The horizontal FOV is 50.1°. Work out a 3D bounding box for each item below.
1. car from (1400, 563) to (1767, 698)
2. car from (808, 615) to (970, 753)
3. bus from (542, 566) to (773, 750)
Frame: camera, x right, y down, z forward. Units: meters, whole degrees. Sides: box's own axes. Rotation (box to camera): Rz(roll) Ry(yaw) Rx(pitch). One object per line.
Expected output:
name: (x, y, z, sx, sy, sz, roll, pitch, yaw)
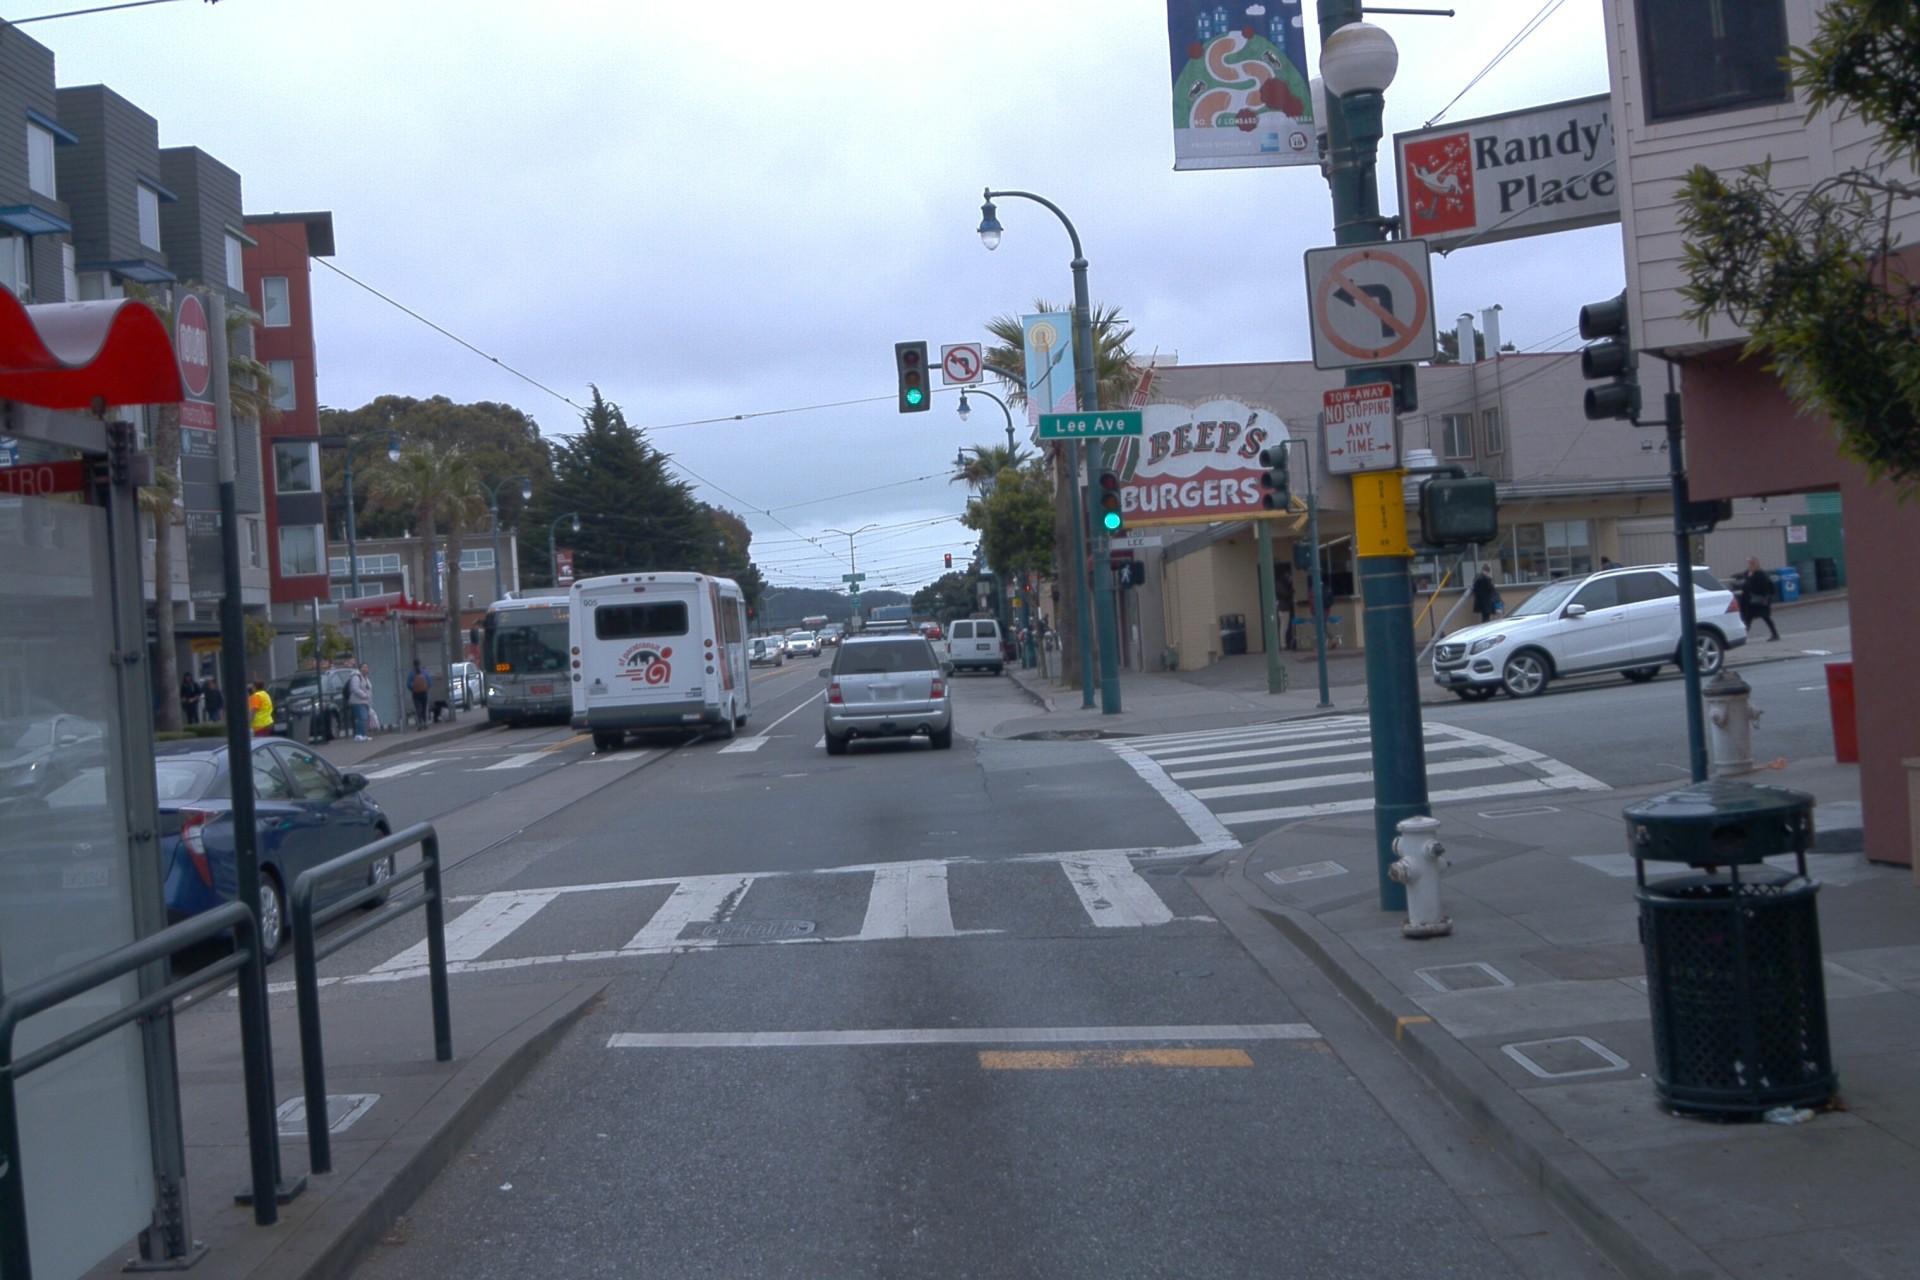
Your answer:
car: (9.498, -0.171, 31.467, 4.906, 1.960, 2.242, -1, 1, -14)
car: (-1.067, 0.600, 31.357, 2.302, 1.940, 4.182, 0, 1, -1)
bus: (-5.339, 0.251, 37.580, 3.022, 3.040, 6.906, 0, 1, 1)
